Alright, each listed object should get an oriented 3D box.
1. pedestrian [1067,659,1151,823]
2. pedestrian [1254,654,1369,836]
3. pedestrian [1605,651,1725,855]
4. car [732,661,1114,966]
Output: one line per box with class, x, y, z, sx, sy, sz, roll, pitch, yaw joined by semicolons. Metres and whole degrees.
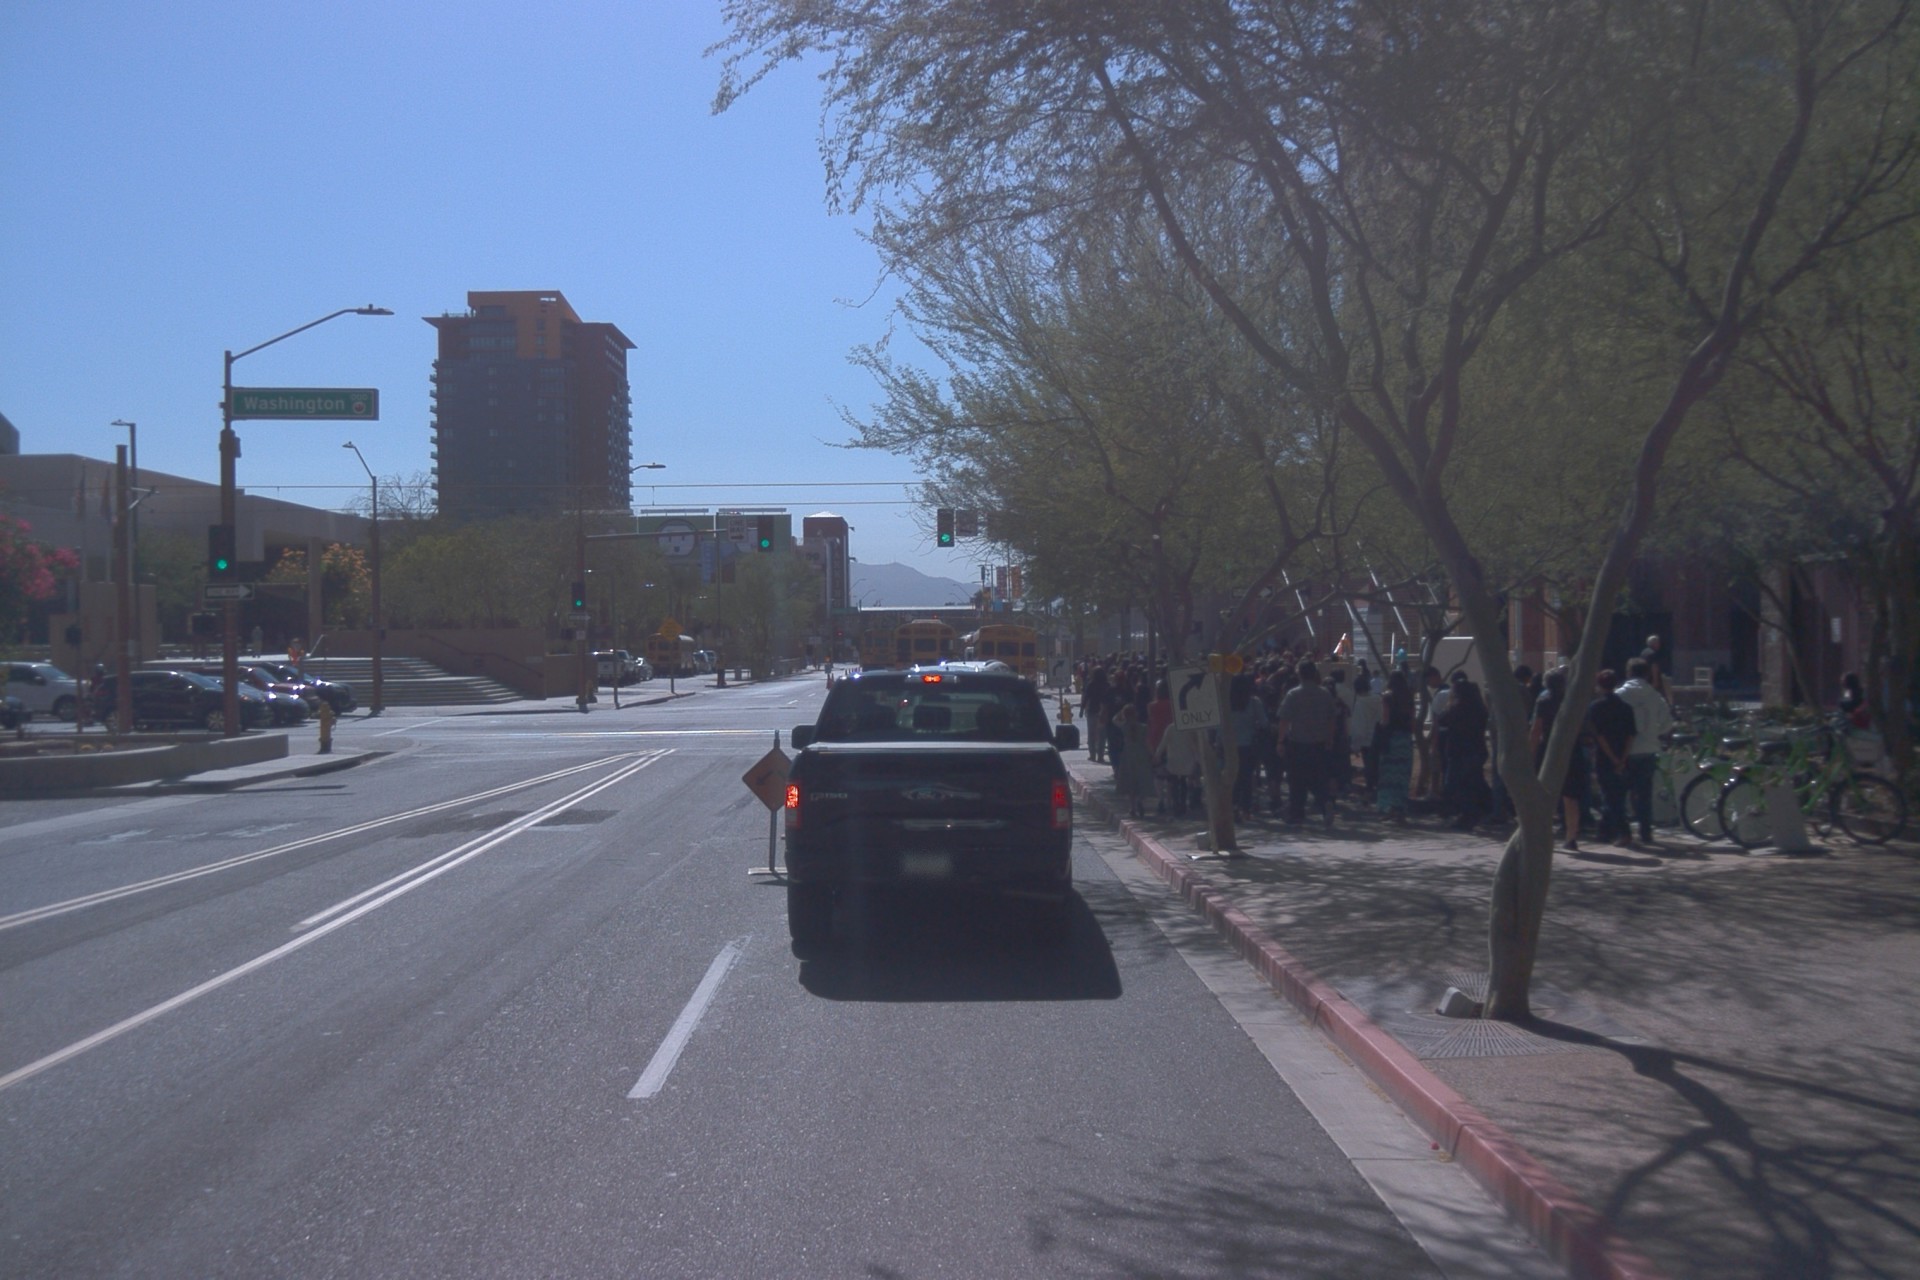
pedestrian;1.767;1.183;24.664;0.959;1.900;0.880;0;0;5
pedestrian;3.747;1.102;22.248;0.958;1.900;0.881;0;0;-10
pedestrian;6.630;1.045;19.587;0.835;1.880;0.792;0;0;-1
car;-0.206;1.161;16.253;2.487;1.950;5.329;0;0;1
